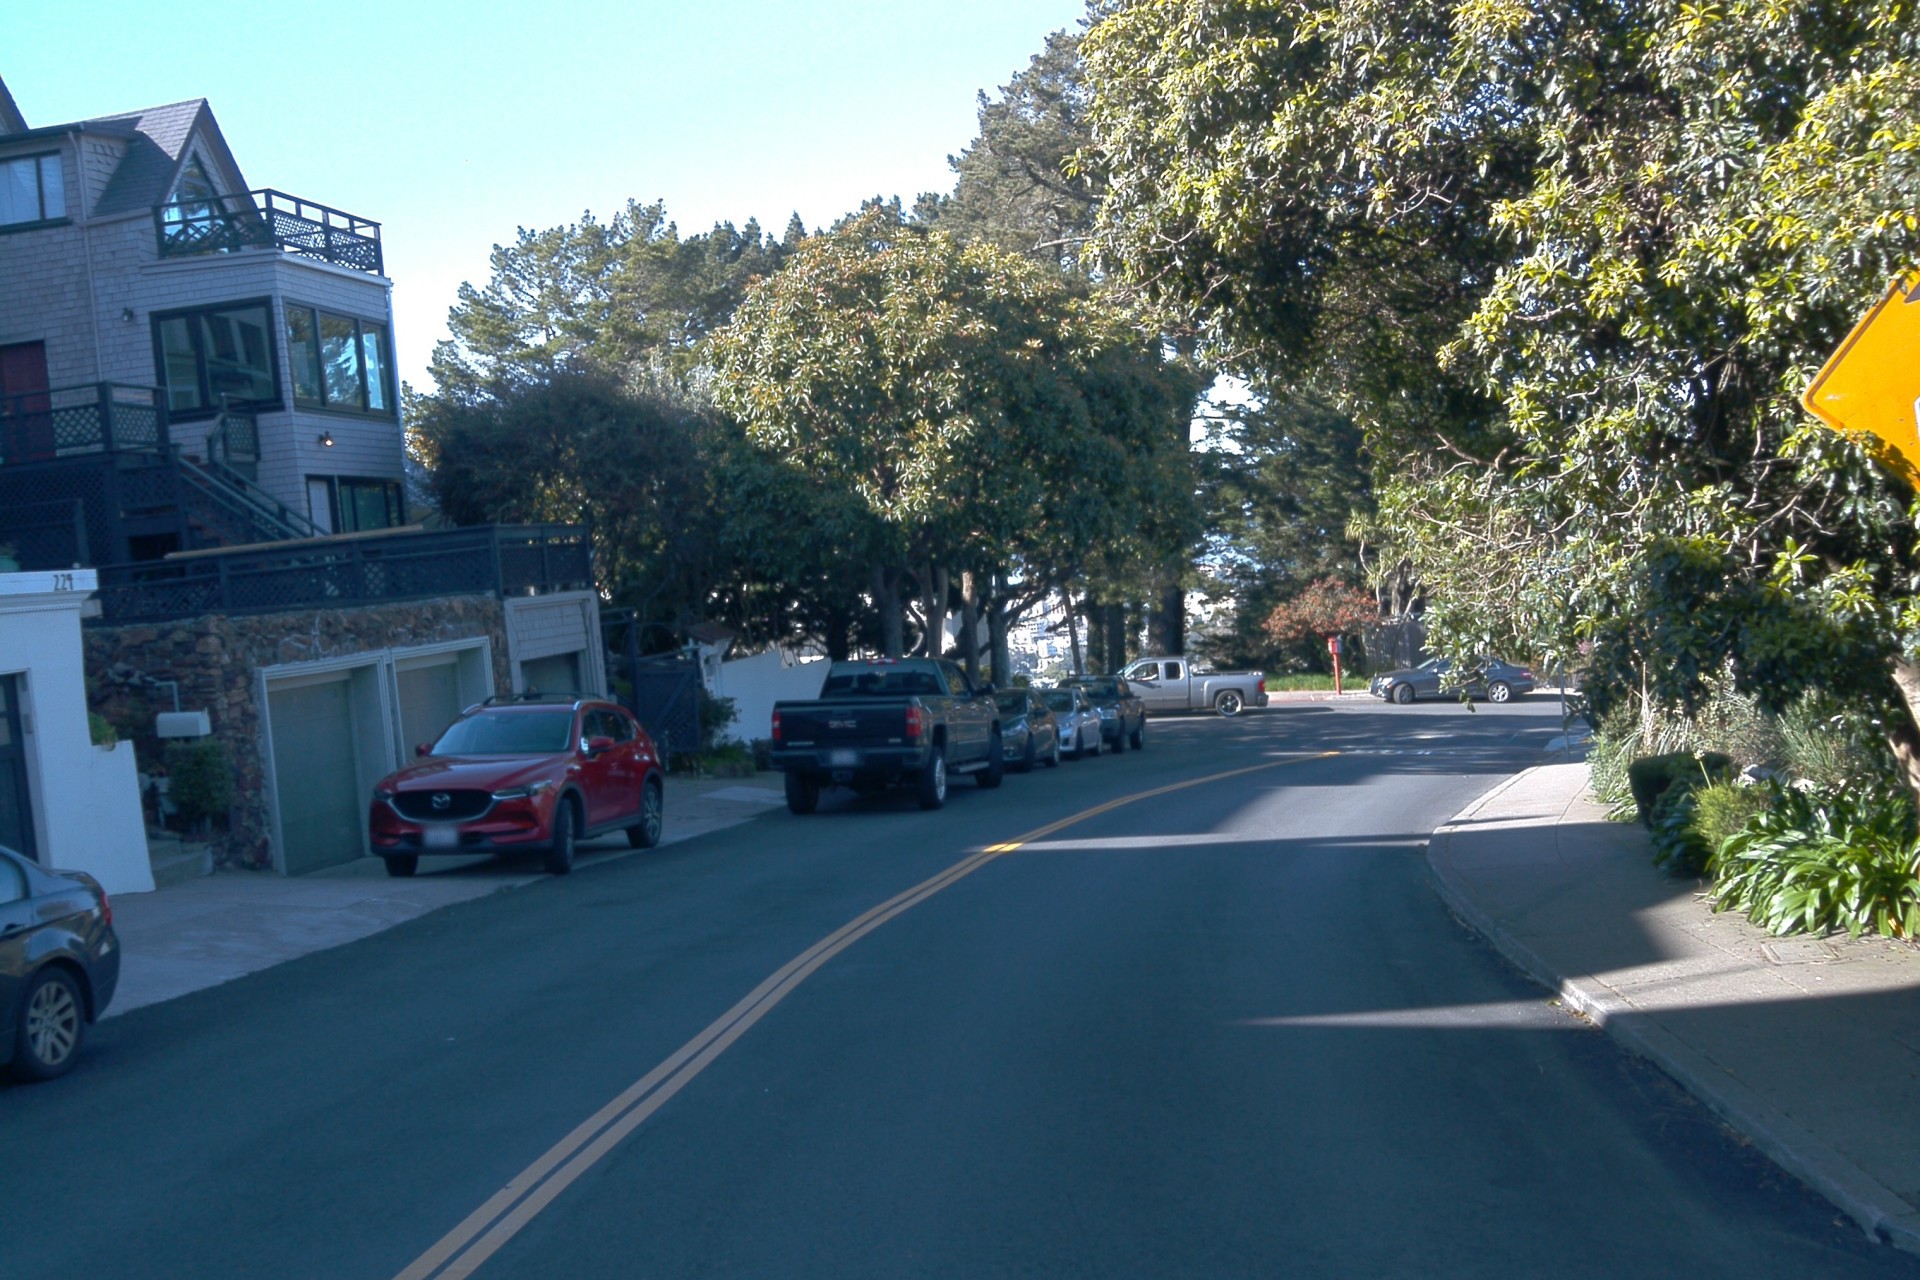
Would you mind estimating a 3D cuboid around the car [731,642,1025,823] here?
[{"bbox_3d":[-0.928,1.138,28.370,2.650,2.200,6.099,0,0,11],"label":"car"}]

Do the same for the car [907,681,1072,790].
[{"bbox_3d":[0.590,1.592,35.861,2.084,1.680,4.436,0,0,11],"label":"car"}]

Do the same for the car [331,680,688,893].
[{"bbox_3d":[-4.415,1.372,21.155,2.137,1.860,4.614,0,0,7],"label":"car"}]
